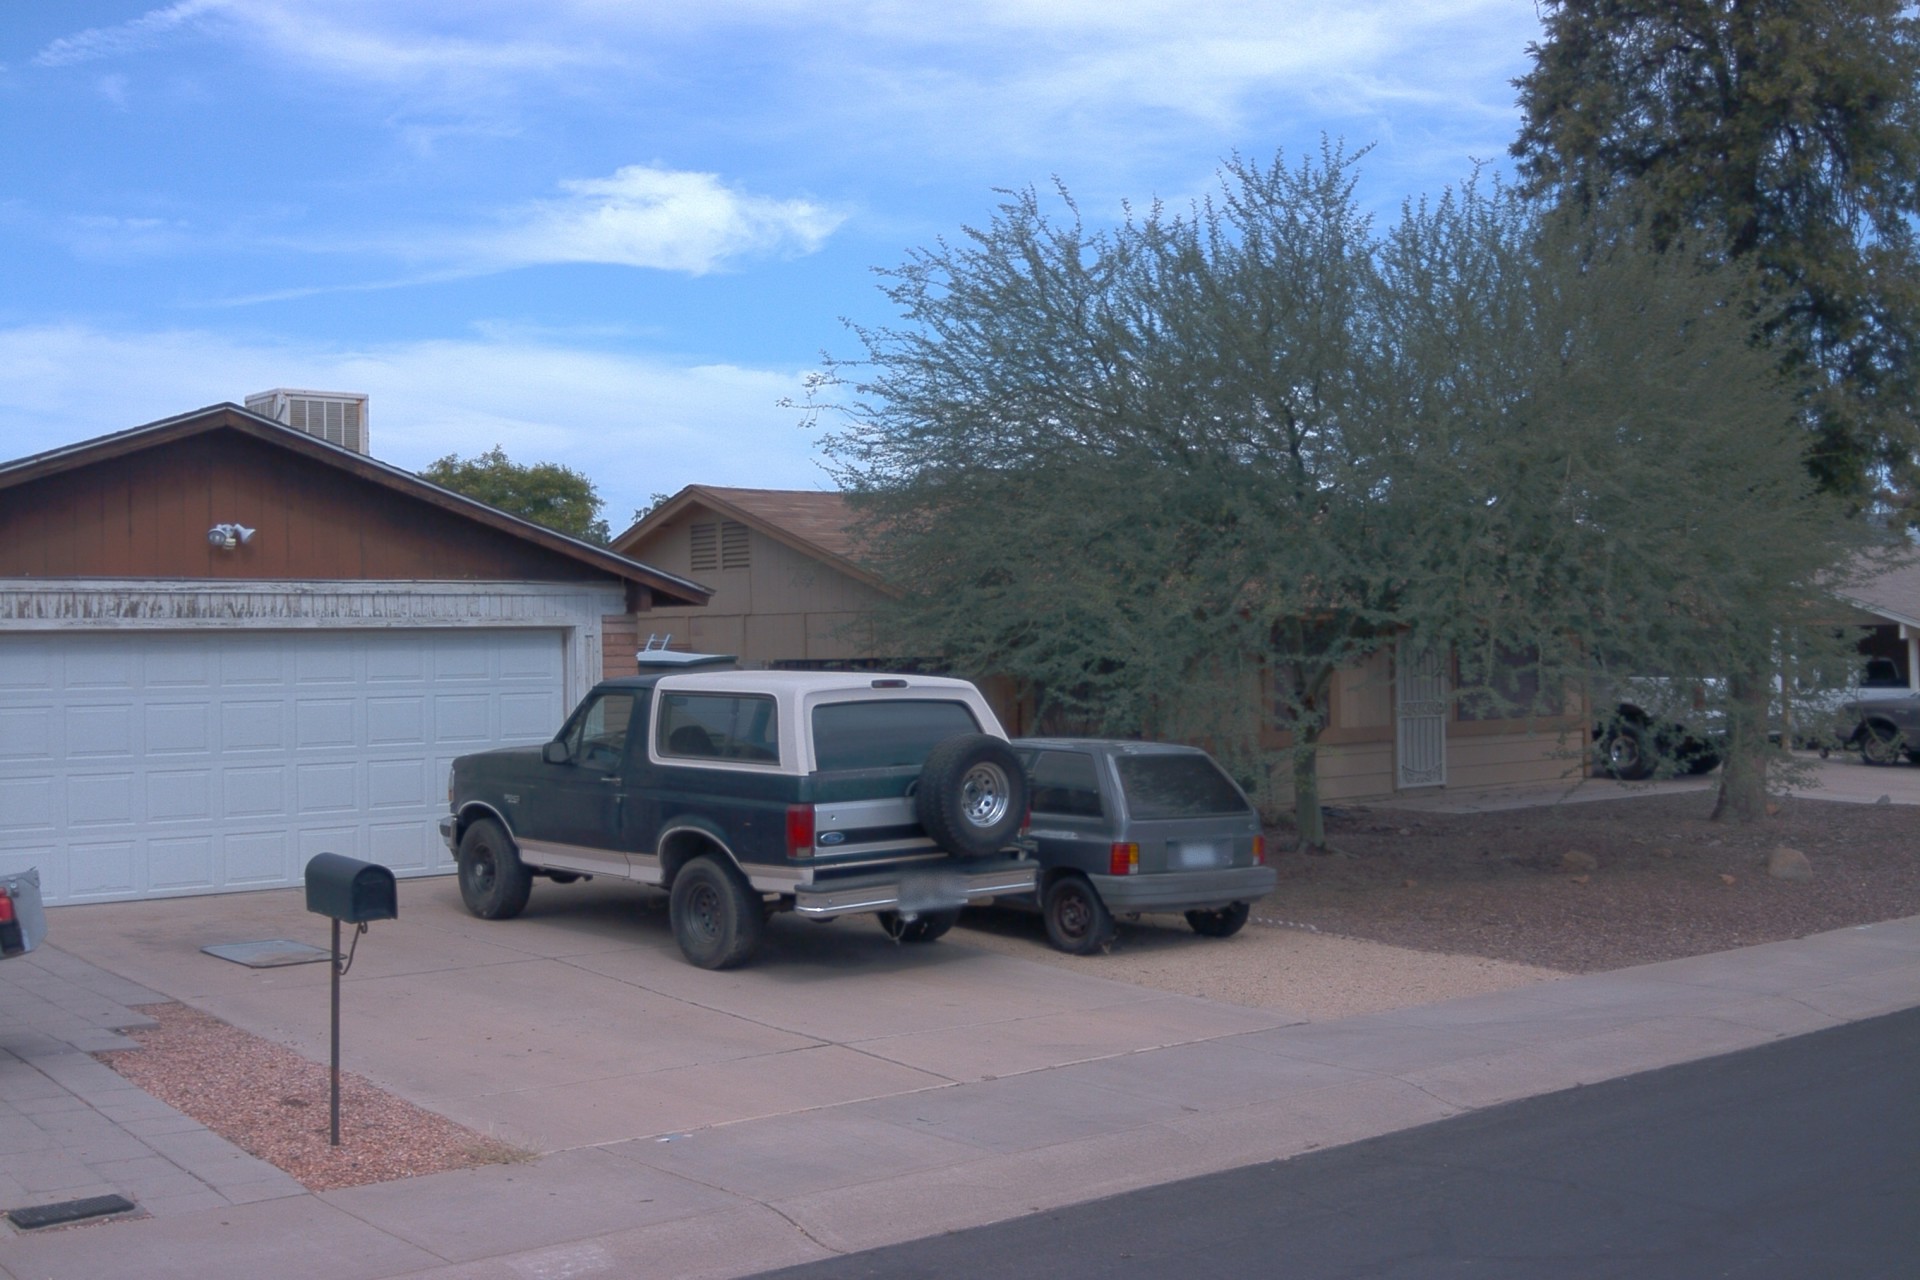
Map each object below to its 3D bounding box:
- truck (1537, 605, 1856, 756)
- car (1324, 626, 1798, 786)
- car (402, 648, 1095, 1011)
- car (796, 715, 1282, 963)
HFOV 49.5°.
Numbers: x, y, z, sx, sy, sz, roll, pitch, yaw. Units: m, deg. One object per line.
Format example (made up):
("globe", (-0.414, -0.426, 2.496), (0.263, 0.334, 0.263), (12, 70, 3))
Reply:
("truck", (12.548, 0.656, 35.712), (2.371, 2.400, 4.573), (0, 0, -41))
("car", (8.903, 0.904, 31.536), (2.567, 2.170, 6.579), (0, 0, -40))
("car", (-1.657, 1.110, 14.714), (2.431, 2.100, 4.878), (0, 0, -42))
("car", (0.525, 1.399, 15.806), (1.783, 1.540, 3.419), (0, 0, -43))
